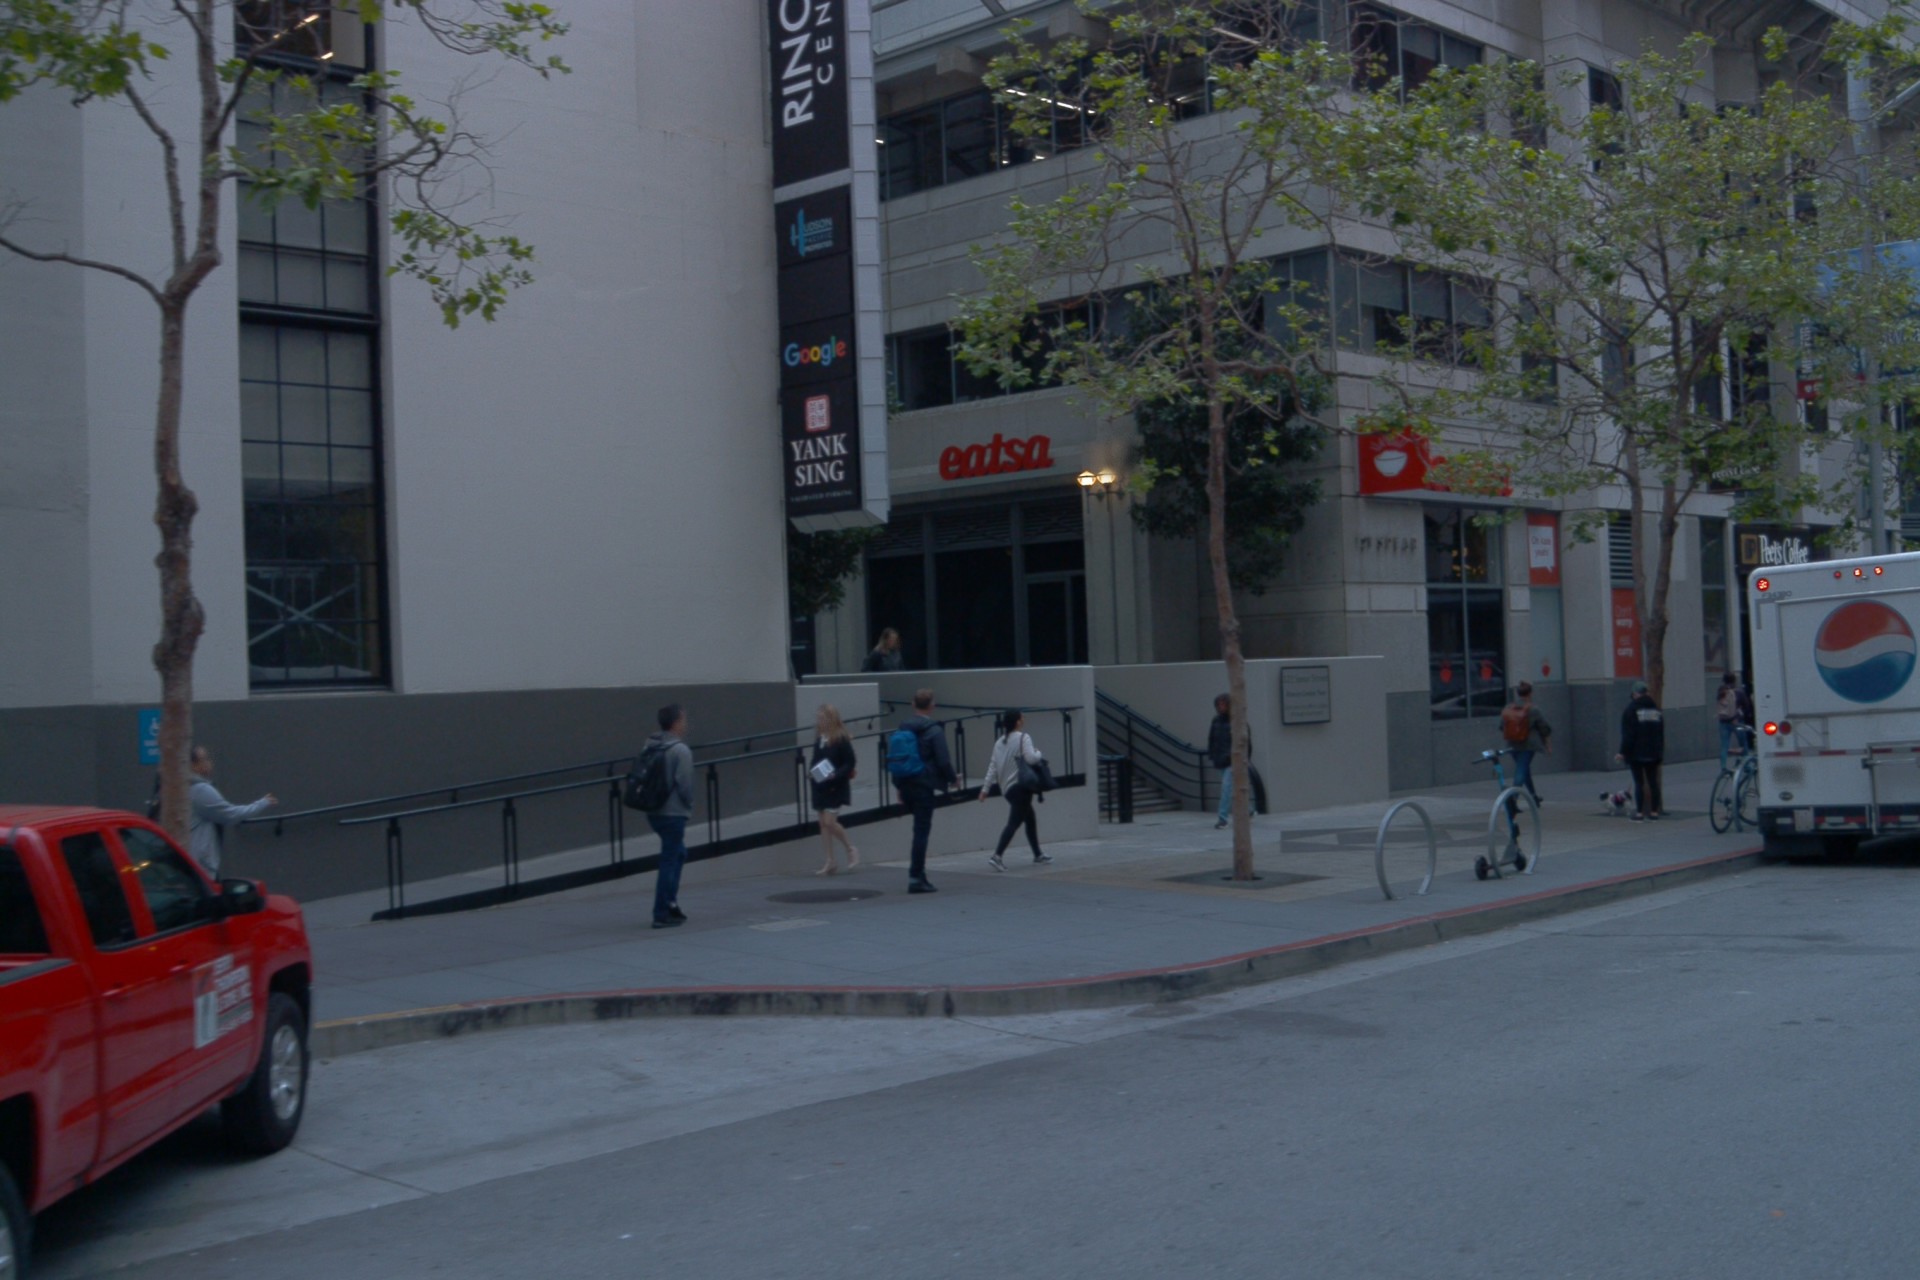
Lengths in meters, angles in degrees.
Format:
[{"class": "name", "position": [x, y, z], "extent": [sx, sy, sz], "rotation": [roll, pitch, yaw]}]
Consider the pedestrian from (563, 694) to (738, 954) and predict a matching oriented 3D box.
[{"class": "pedestrian", "position": [-2.425, 1.403, 16.182], "extent": [1.037, 1.903, 0.873], "rotation": [-1, 1, -43]}]

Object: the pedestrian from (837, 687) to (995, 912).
[{"class": "pedestrian", "position": [-0.384, 1.373, 18.215], "extent": [0.917, 1.860, 1.056], "rotation": [1, 1, 43]}]

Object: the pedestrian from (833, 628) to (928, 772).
[{"class": "pedestrian", "position": [-1.028, 0.756, 26.645], "extent": [0.833, 1.800, 0.892], "rotation": [-1, 1, -43]}]

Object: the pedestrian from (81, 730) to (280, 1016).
[{"class": "pedestrian", "position": [-5.271, 1.530, 13.955], "extent": [1.000, 1.774, 0.891], "rotation": [-1, 1, -41]}]

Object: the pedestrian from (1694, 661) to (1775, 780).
[{"class": "pedestrian", "position": [11.612, 1.190, 30.932], "extent": [1.004, 1.720, 0.766], "rotation": [-1, 1, -43]}]

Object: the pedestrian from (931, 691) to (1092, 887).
[{"class": "pedestrian", "position": [0.504, 1.413, 20.097], "extent": [1.198, 1.780, 1.017], "rotation": [-1, 1, -42]}]

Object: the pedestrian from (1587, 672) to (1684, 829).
[{"class": "pedestrian", "position": [7.827, 1.264, 23.925], "extent": [0.758, 1.750, 0.755], "rotation": [0, 1, -23]}]

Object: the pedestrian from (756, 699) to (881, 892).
[{"class": "pedestrian", "position": [-1.364, 1.473, 19.916], "extent": [0.794, 1.760, 0.904], "rotation": [1, 1, 42]}]

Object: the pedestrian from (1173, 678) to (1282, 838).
[{"class": "pedestrian", "position": [3.194, 1.384, 24.605], "extent": [0.800, 1.810, 1.068], "rotation": [1, 1, 44]}]

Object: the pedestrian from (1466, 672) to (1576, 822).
[{"class": "pedestrian", "position": [6.951, 1.302, 25.566], "extent": [1.017, 1.774, 0.922], "rotation": [-1, 1, -44]}]
